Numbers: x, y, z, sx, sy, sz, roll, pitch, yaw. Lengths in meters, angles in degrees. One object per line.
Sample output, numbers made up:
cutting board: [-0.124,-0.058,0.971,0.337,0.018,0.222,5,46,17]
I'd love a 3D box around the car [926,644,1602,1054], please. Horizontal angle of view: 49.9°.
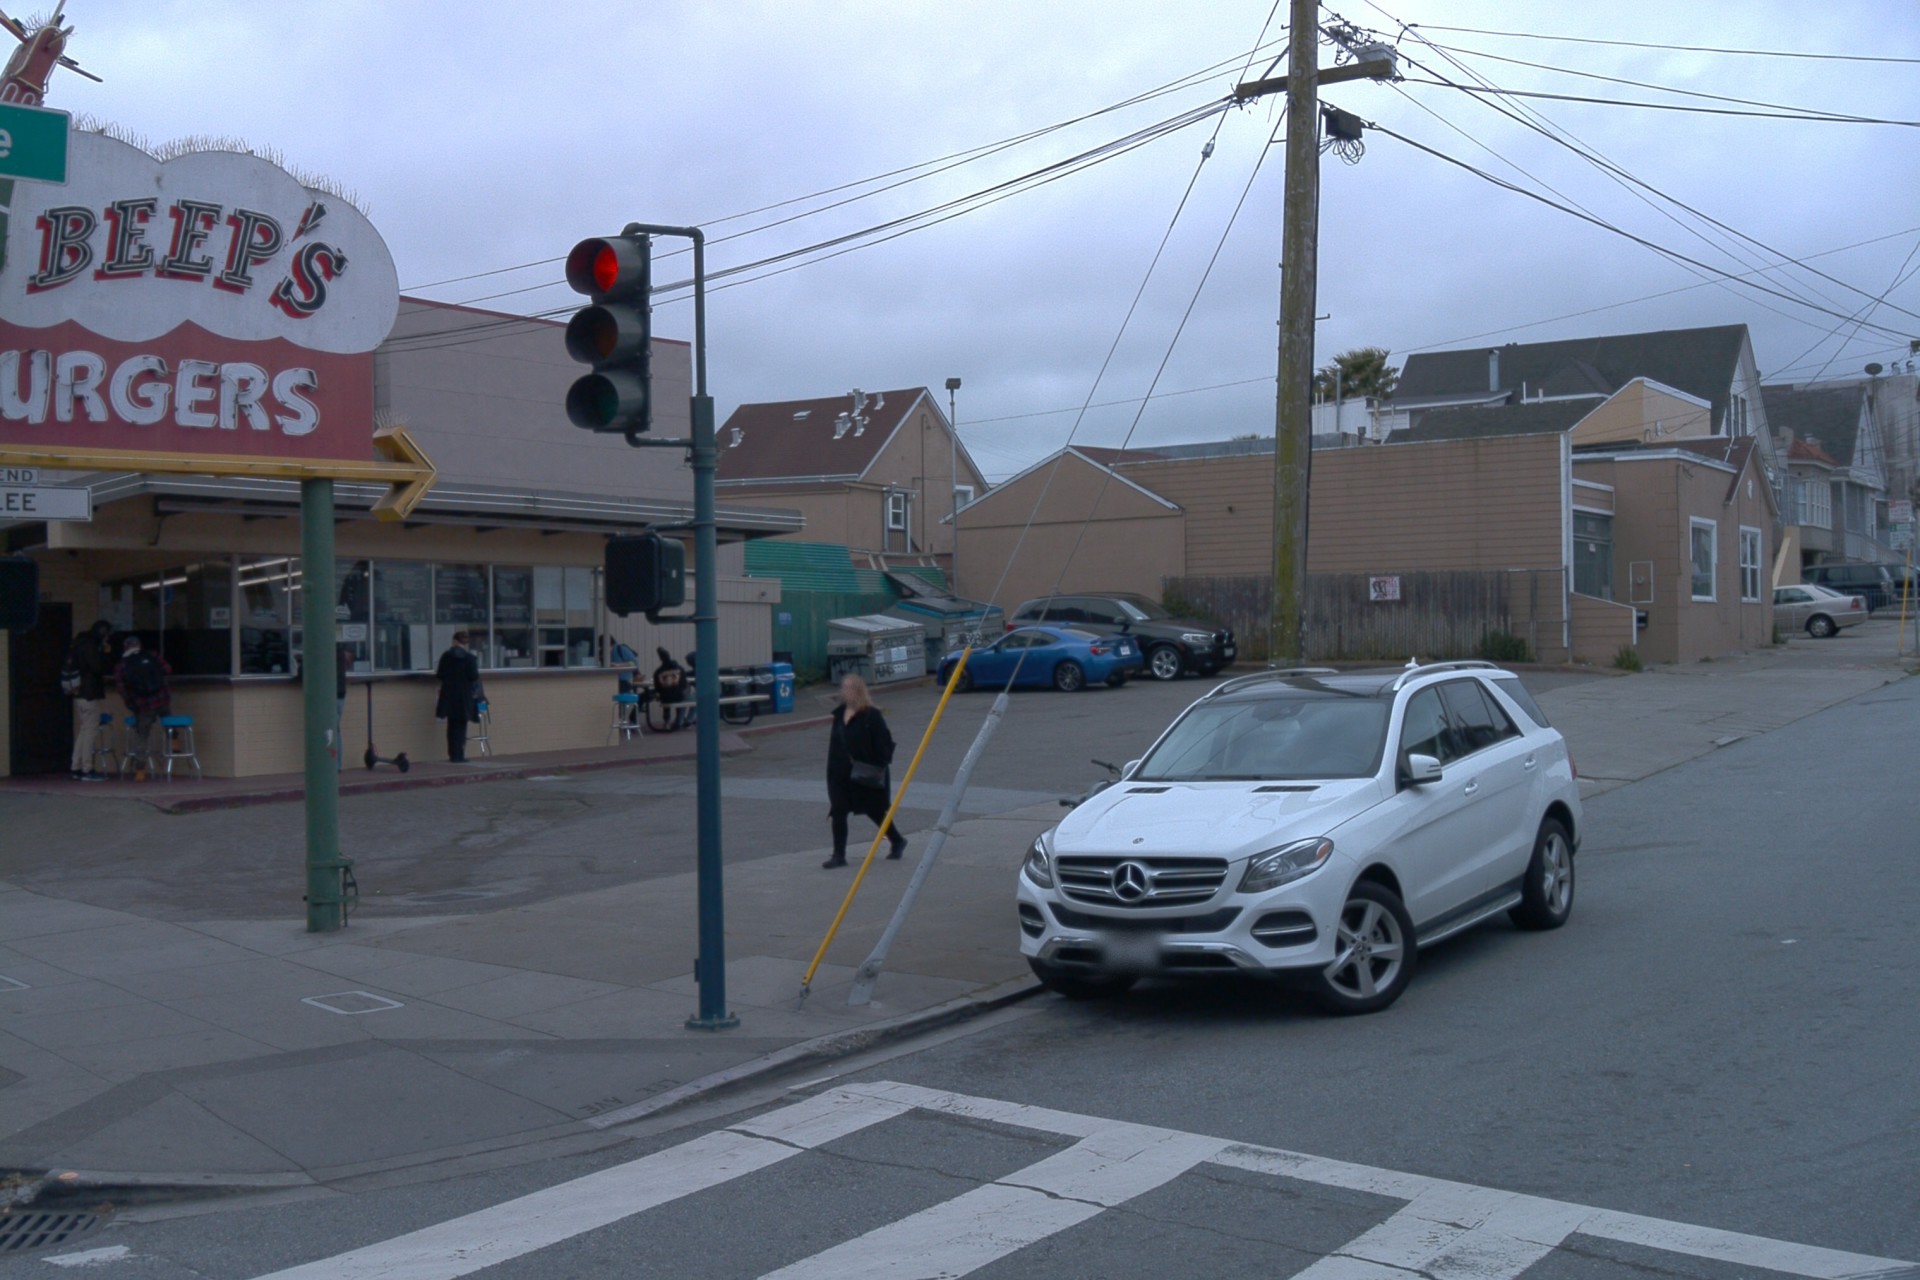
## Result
car: [2.113,1.038,12.830,2.251,1.960,4.887,0,1,34]

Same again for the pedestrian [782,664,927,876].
pedestrian: [-0.867,1.046,17.088,0.829,1.670,0.886,0,1,35]

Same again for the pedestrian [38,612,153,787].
pedestrian: [-9.995,0.668,23.892,0.944,1.970,0.827,0,1,32]

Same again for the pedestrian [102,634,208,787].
pedestrian: [-9.262,0.786,23.774,0.863,1.710,0.814,0,1,40]
